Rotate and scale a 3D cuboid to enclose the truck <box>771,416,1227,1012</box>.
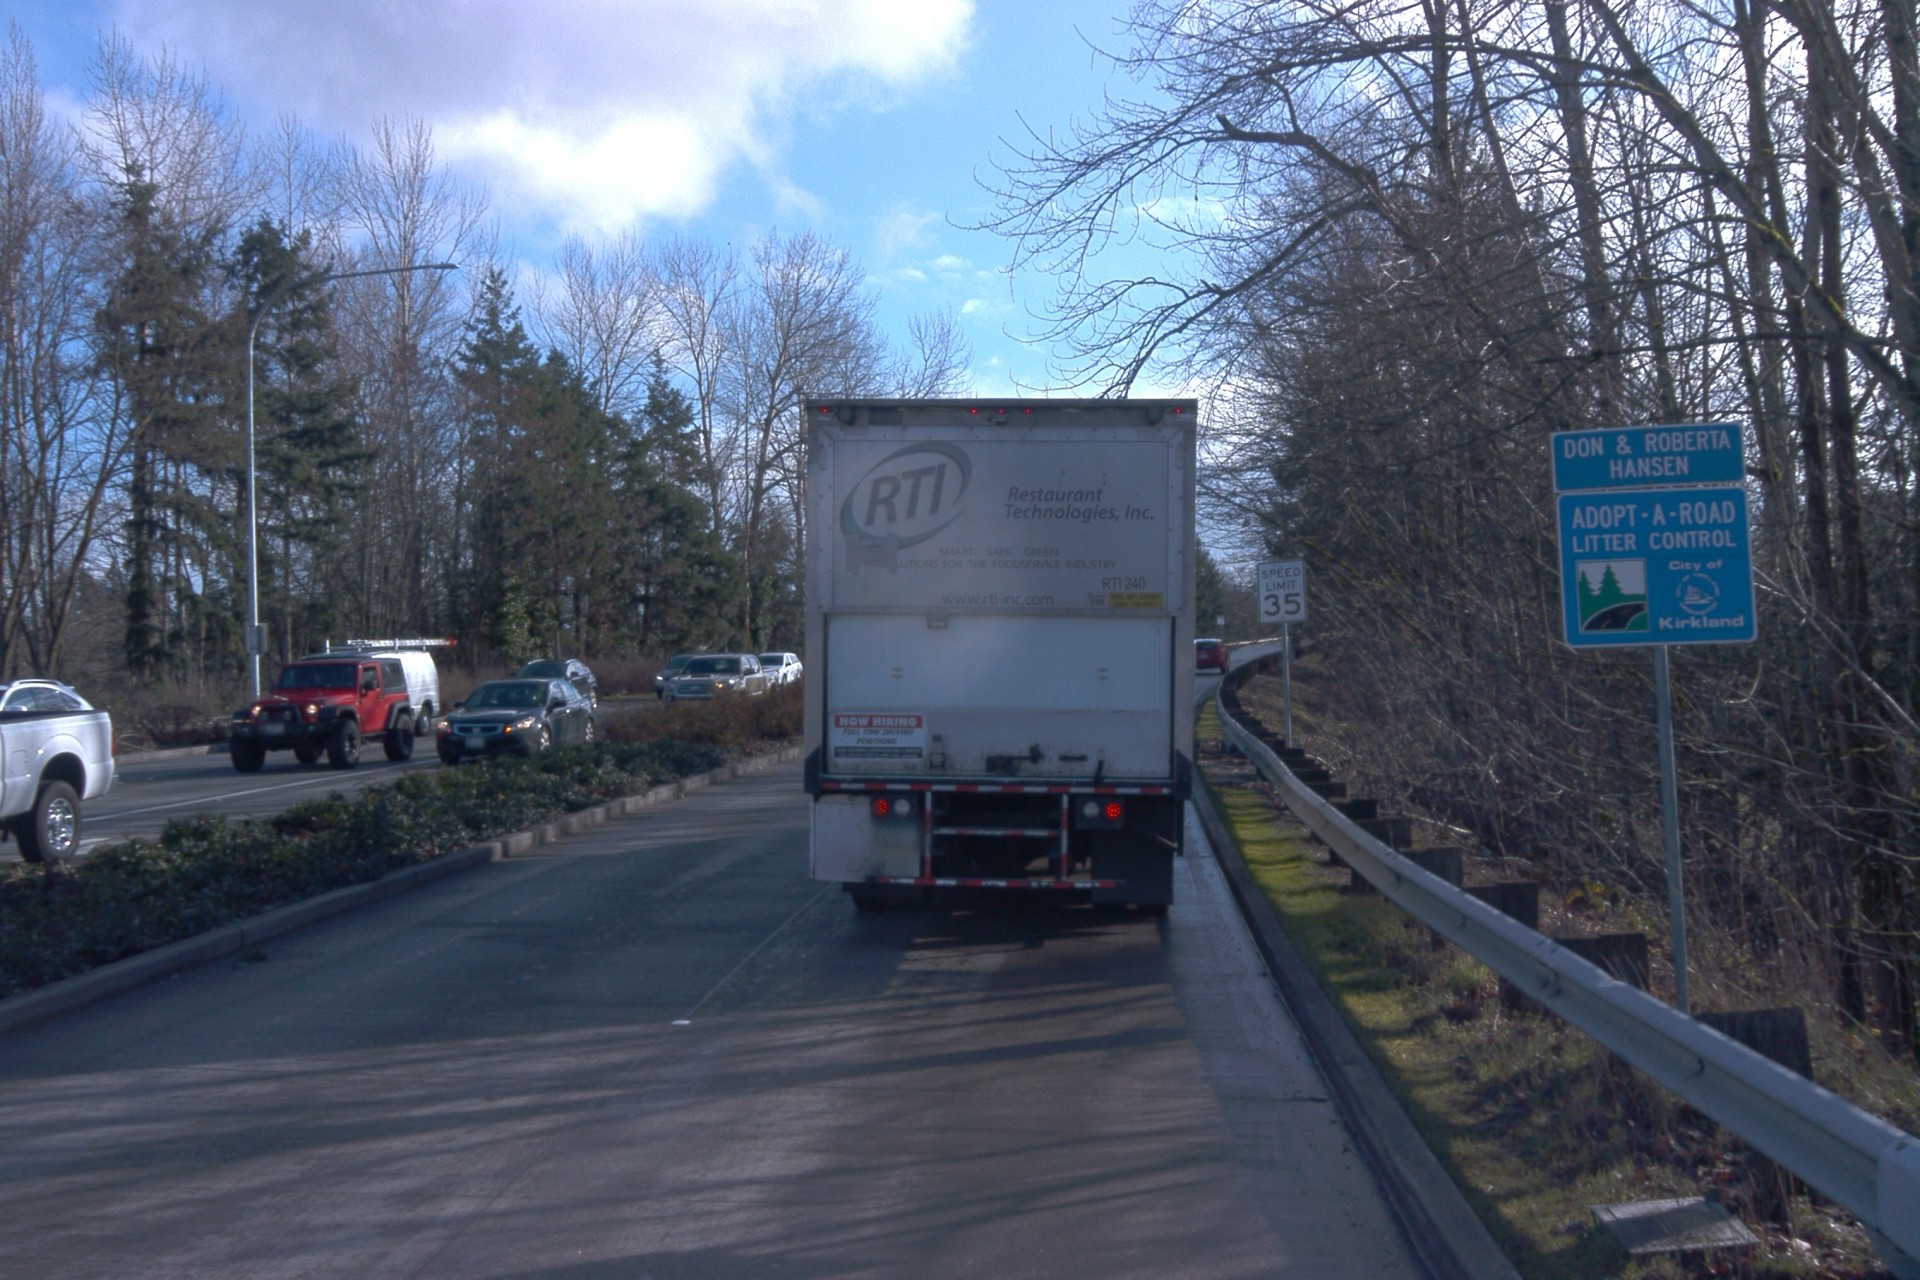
[{"bbox_3d":[0.510,0.450,16.551,2.898,3.820,6.537,1,0,5],"label":"truck"}]

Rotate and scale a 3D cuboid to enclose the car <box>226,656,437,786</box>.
[{"bbox_3d":[-11.149,1.378,36.592,2.094,2.100,4.209,1,0,6],"label":"car"}]

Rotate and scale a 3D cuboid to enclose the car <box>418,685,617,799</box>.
[{"bbox_3d":[-7.974,1.788,37.375,2.187,1.770,4.870,1,0,5],"label":"car"}]
